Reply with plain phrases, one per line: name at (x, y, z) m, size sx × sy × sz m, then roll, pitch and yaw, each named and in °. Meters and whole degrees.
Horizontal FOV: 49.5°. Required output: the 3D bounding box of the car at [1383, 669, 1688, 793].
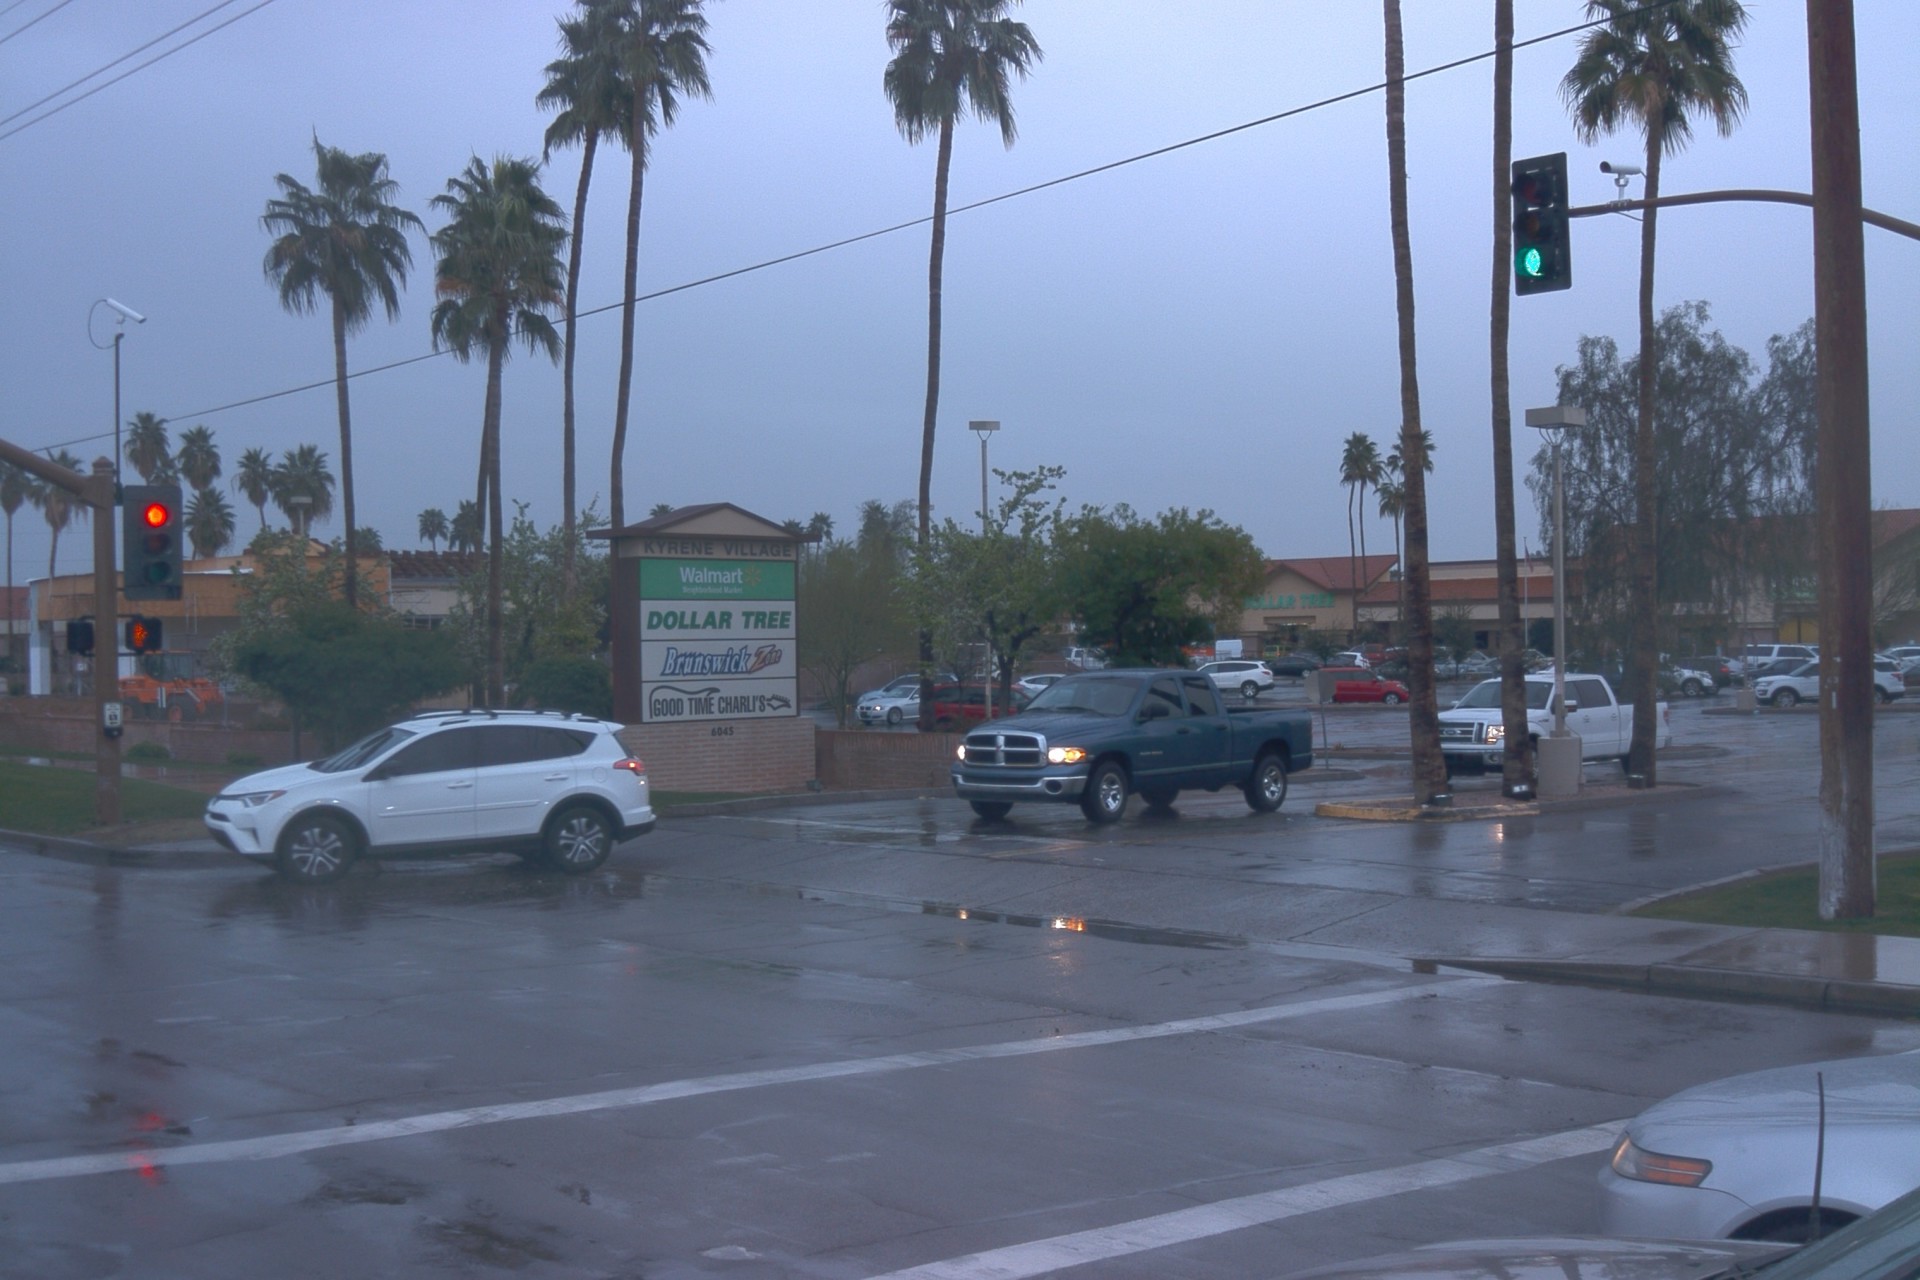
car at (10.197, 1.509, 36.615) m, size 5.840 × 1.980 × 2.534 m, roll 1°, pitch -1°, yaw -44°

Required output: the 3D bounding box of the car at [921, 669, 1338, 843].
car at (2.335, 1.379, 27.052) m, size 2.433 × 2.000 × 5.767 m, roll 0°, pitch -1°, yaw 41°

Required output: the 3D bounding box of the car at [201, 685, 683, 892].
car at (-5.429, 1.469, 21.954) m, size 4.522 × 1.940 × 2.035 m, roll 0°, pitch 0°, yaw -31°
